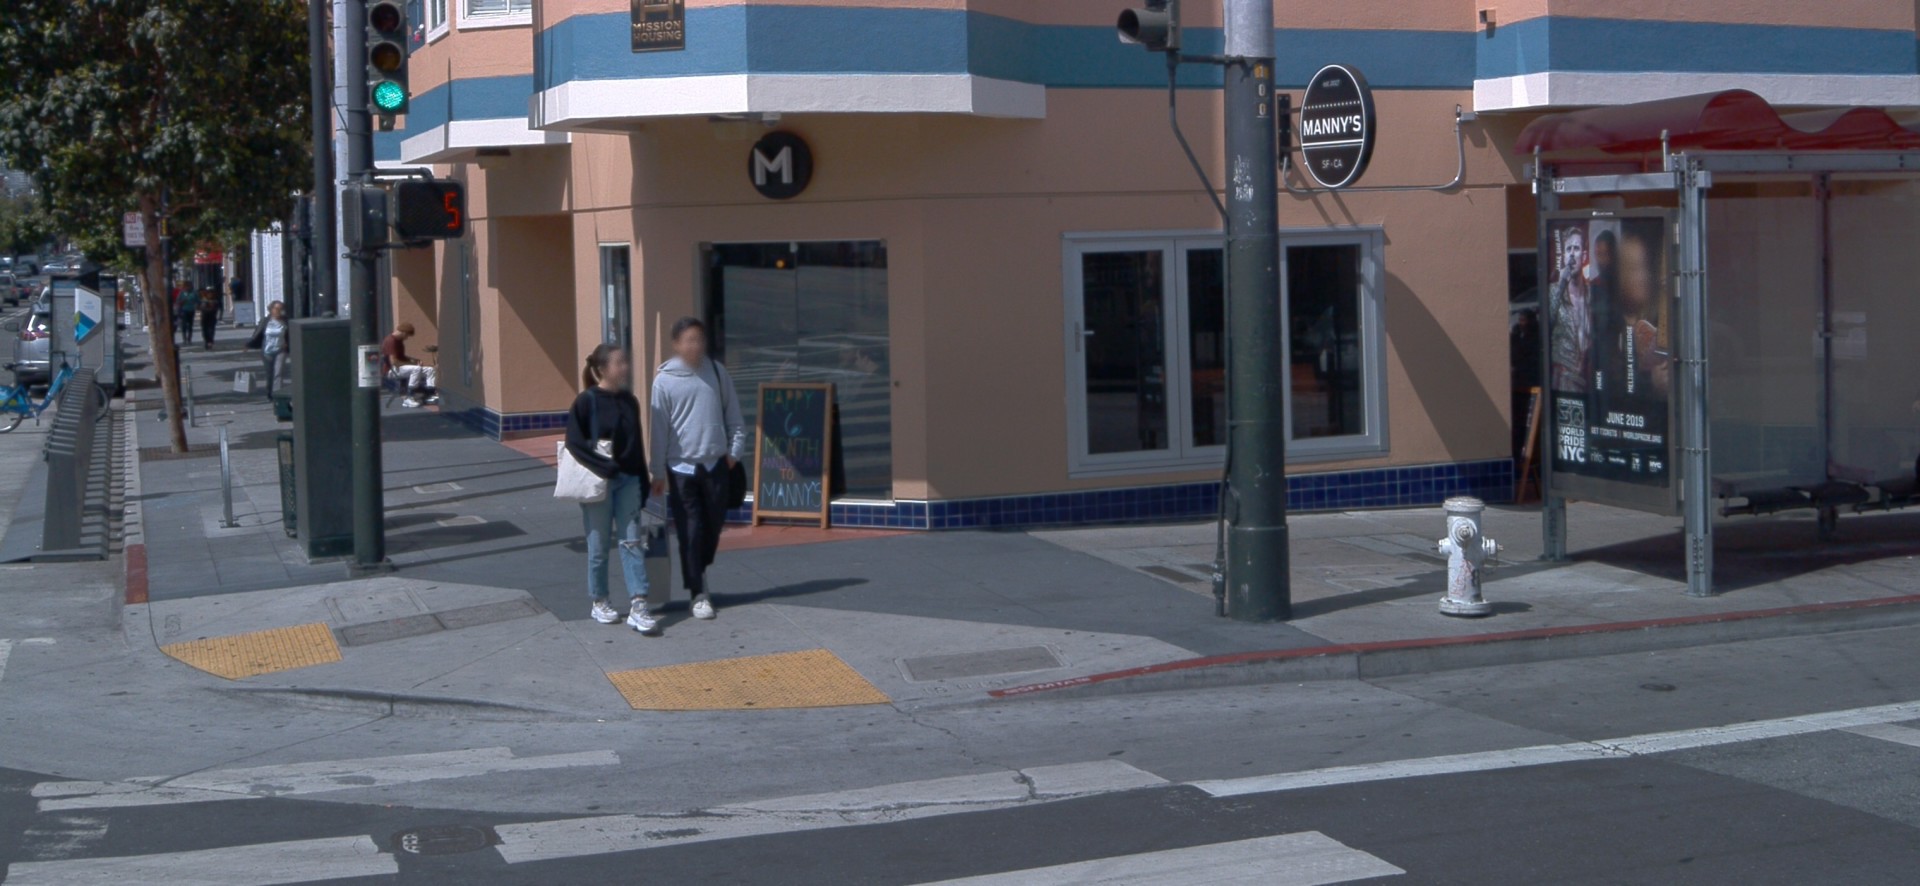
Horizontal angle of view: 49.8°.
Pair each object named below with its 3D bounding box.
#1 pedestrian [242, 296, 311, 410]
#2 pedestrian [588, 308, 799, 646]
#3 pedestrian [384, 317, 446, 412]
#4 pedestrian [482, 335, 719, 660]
[{"bbox_3d":[-10.496,-1.402,31.764,0.957,1.664,0.886,-1,2,-17],"label":"pedestrian"},{"bbox_3d":[-1.595,0.150,12.251,0.950,1.826,1.043,-2,3,-25],"label":"pedestrian"},{"bbox_3d":[-7.742,-1.126,29.376,0.778,1.257,0.852,-1,3,-10],"label":"pedestrian"},{"bbox_3d":[-2.065,0.259,11.863,0.883,1.676,1.042,-3,4,-45],"label":"pedestrian"}]
